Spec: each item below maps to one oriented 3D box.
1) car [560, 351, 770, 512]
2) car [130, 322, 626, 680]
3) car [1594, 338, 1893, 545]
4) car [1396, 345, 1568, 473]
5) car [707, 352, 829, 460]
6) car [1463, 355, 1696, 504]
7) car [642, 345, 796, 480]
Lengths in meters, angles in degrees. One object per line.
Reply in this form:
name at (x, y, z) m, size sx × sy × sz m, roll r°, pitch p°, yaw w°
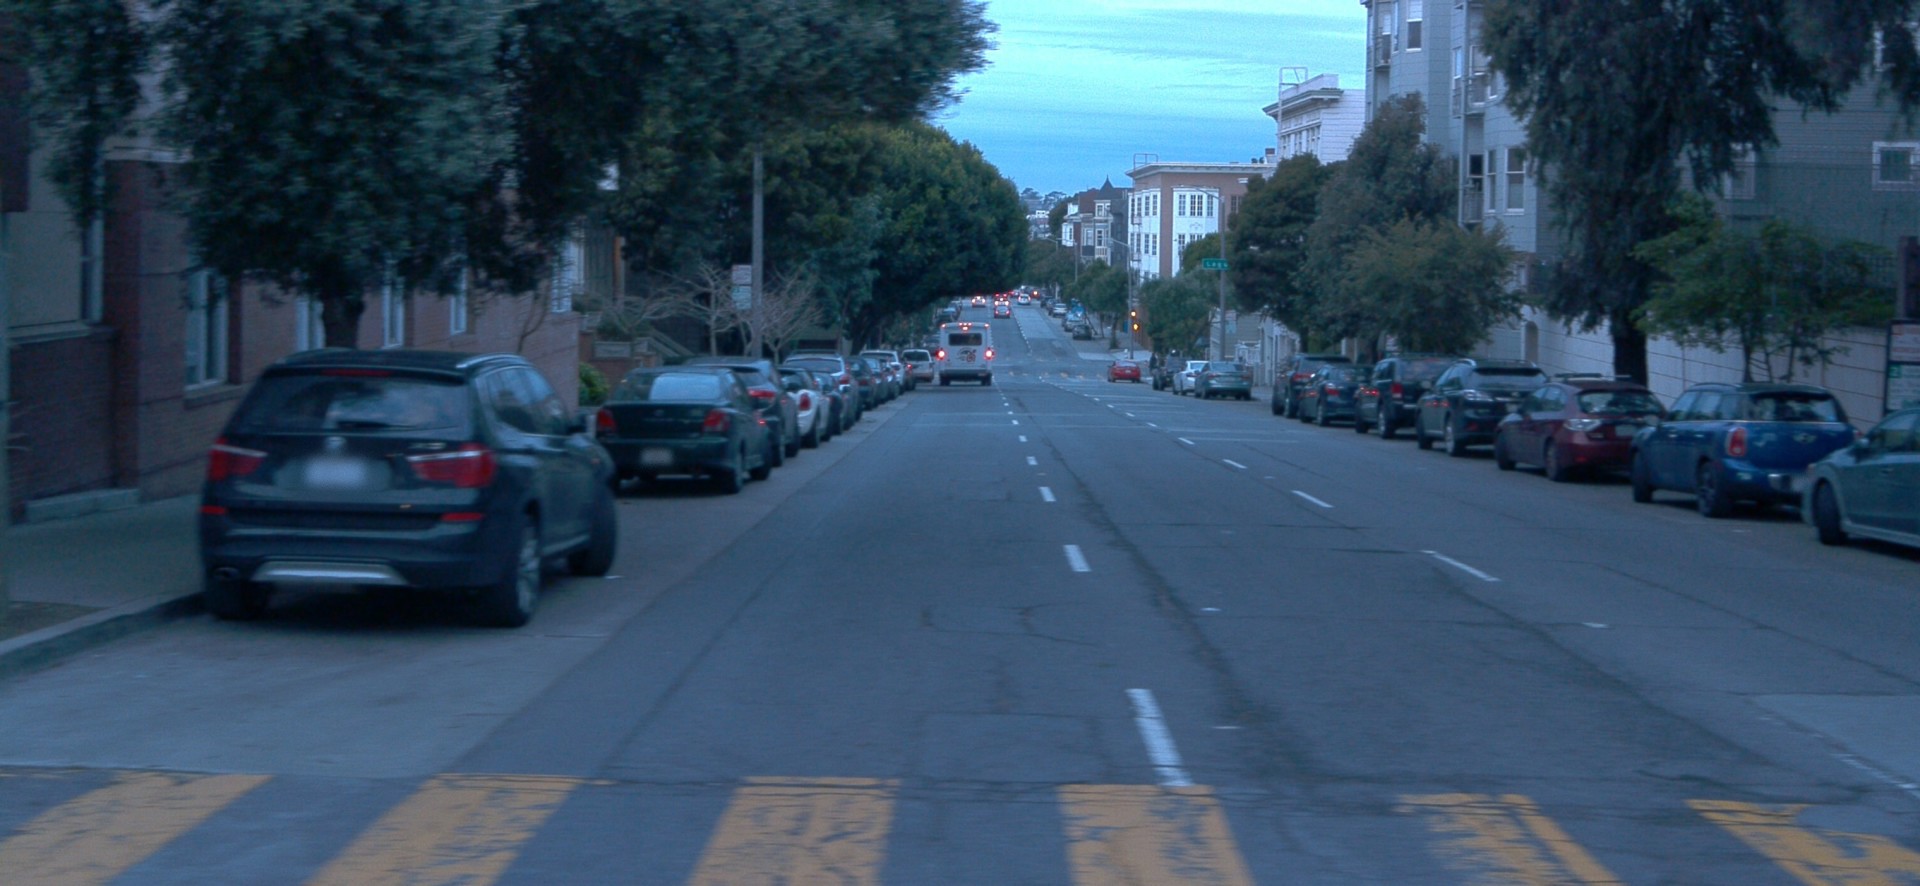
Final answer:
car at (-3.501, -0.216, 25.104) m, size 1.884 × 1.553 × 3.981 m, roll 1°, pitch 5°, yaw 2°
car at (-3.609, 0.195, 13.721) m, size 2.048 × 1.772 × 4.529 m, roll 0°, pitch 5°, yaw 0°
car at (9.114, -0.118, 24.325) m, size 2.046 × 2.002 × 4.022 m, roll 0°, pitch 5°, yaw 1°
car at (9.250, -0.678, 36.872) m, size 2.035 × 1.862 × 4.611 m, roll 1°, pitch 5°, yaw 2°
car at (-3.323, -0.701, 36.198) m, size 1.856 × 1.563 × 3.628 m, roll 0°, pitch 5°, yaw -1°
car at (9.127, -0.274, 30.726) m, size 2.212 × 1.782 × 4.300 m, roll 0°, pitch 5°, yaw 0°
car at (-3.520, -0.521, 30.747) m, size 1.837 × 1.643 × 3.992 m, roll 0°, pitch 5°, yaw 0°
